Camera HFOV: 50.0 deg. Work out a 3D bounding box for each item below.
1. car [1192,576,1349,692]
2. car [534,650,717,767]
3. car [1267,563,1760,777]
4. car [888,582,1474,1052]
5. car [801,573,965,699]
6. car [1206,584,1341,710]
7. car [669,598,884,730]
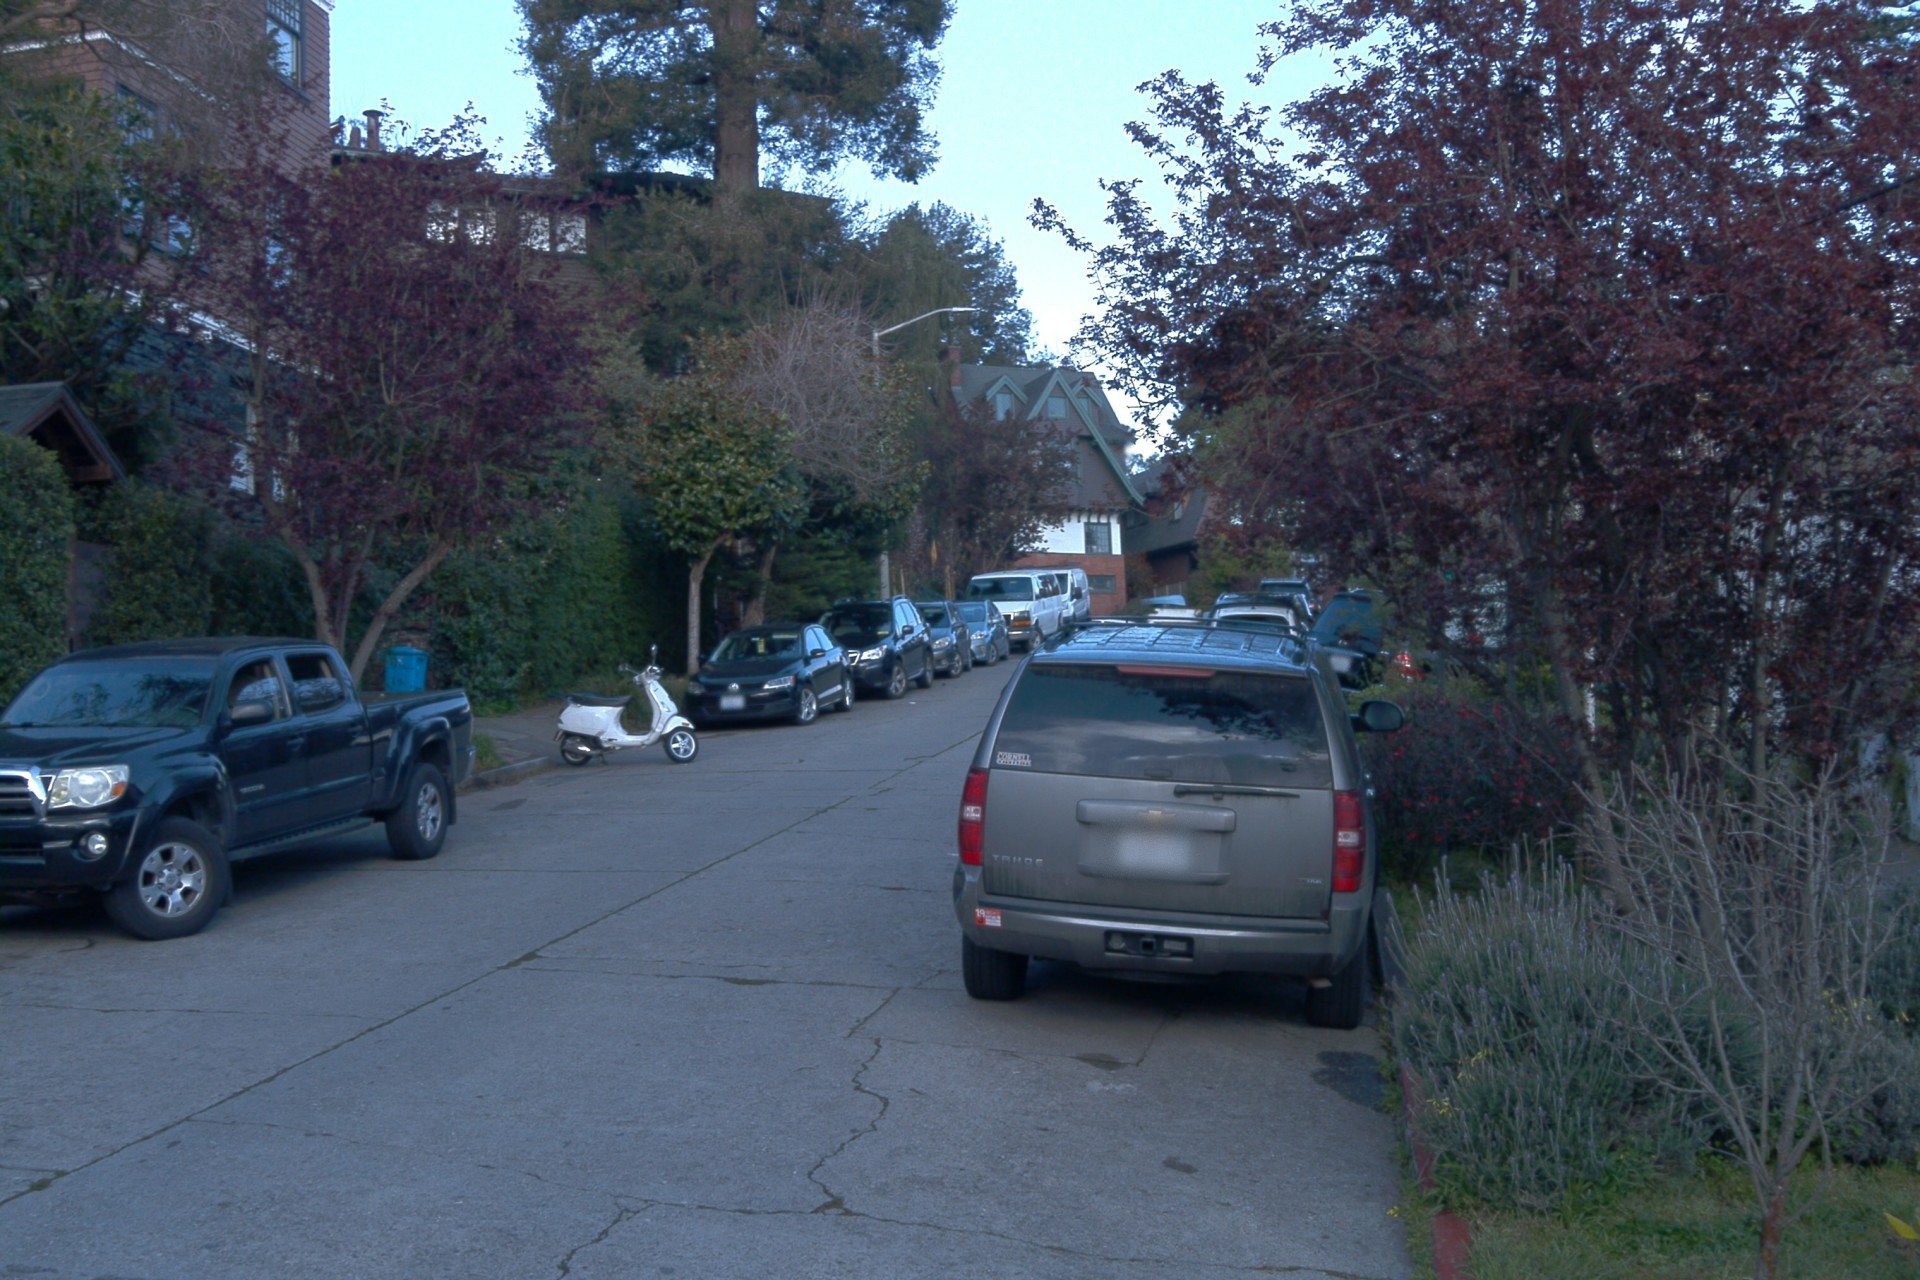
[{"bbox_3d":[5.274,-0.085,34.421,2.181,1.798,4.796,0,0,14],"label":"car"},{"bbox_3d":[-3.858,0.783,23.862,1.919,1.324,0.959,0,0,4],"label":"car"},{"bbox_3d":[6.127,0.300,22.662,5.153,2.122,2.290,0,0,-31],"label":"car"},{"bbox_3d":[1.381,0.762,11.607,2.555,2.010,5.239,0,0,10],"label":"car"},{"bbox_3d":[-1.261,-0.062,35.980,1.892,2.043,4.694,0,0,10],"label":"car"},{"bbox_3d":[4.516,0.097,29.619,1.798,1.690,3.709,0,0,9],"label":"car"},{"bbox_3d":[-2.618,0.334,30.667,2.065,1.817,4.778,0,0,9],"label":"car"}]
